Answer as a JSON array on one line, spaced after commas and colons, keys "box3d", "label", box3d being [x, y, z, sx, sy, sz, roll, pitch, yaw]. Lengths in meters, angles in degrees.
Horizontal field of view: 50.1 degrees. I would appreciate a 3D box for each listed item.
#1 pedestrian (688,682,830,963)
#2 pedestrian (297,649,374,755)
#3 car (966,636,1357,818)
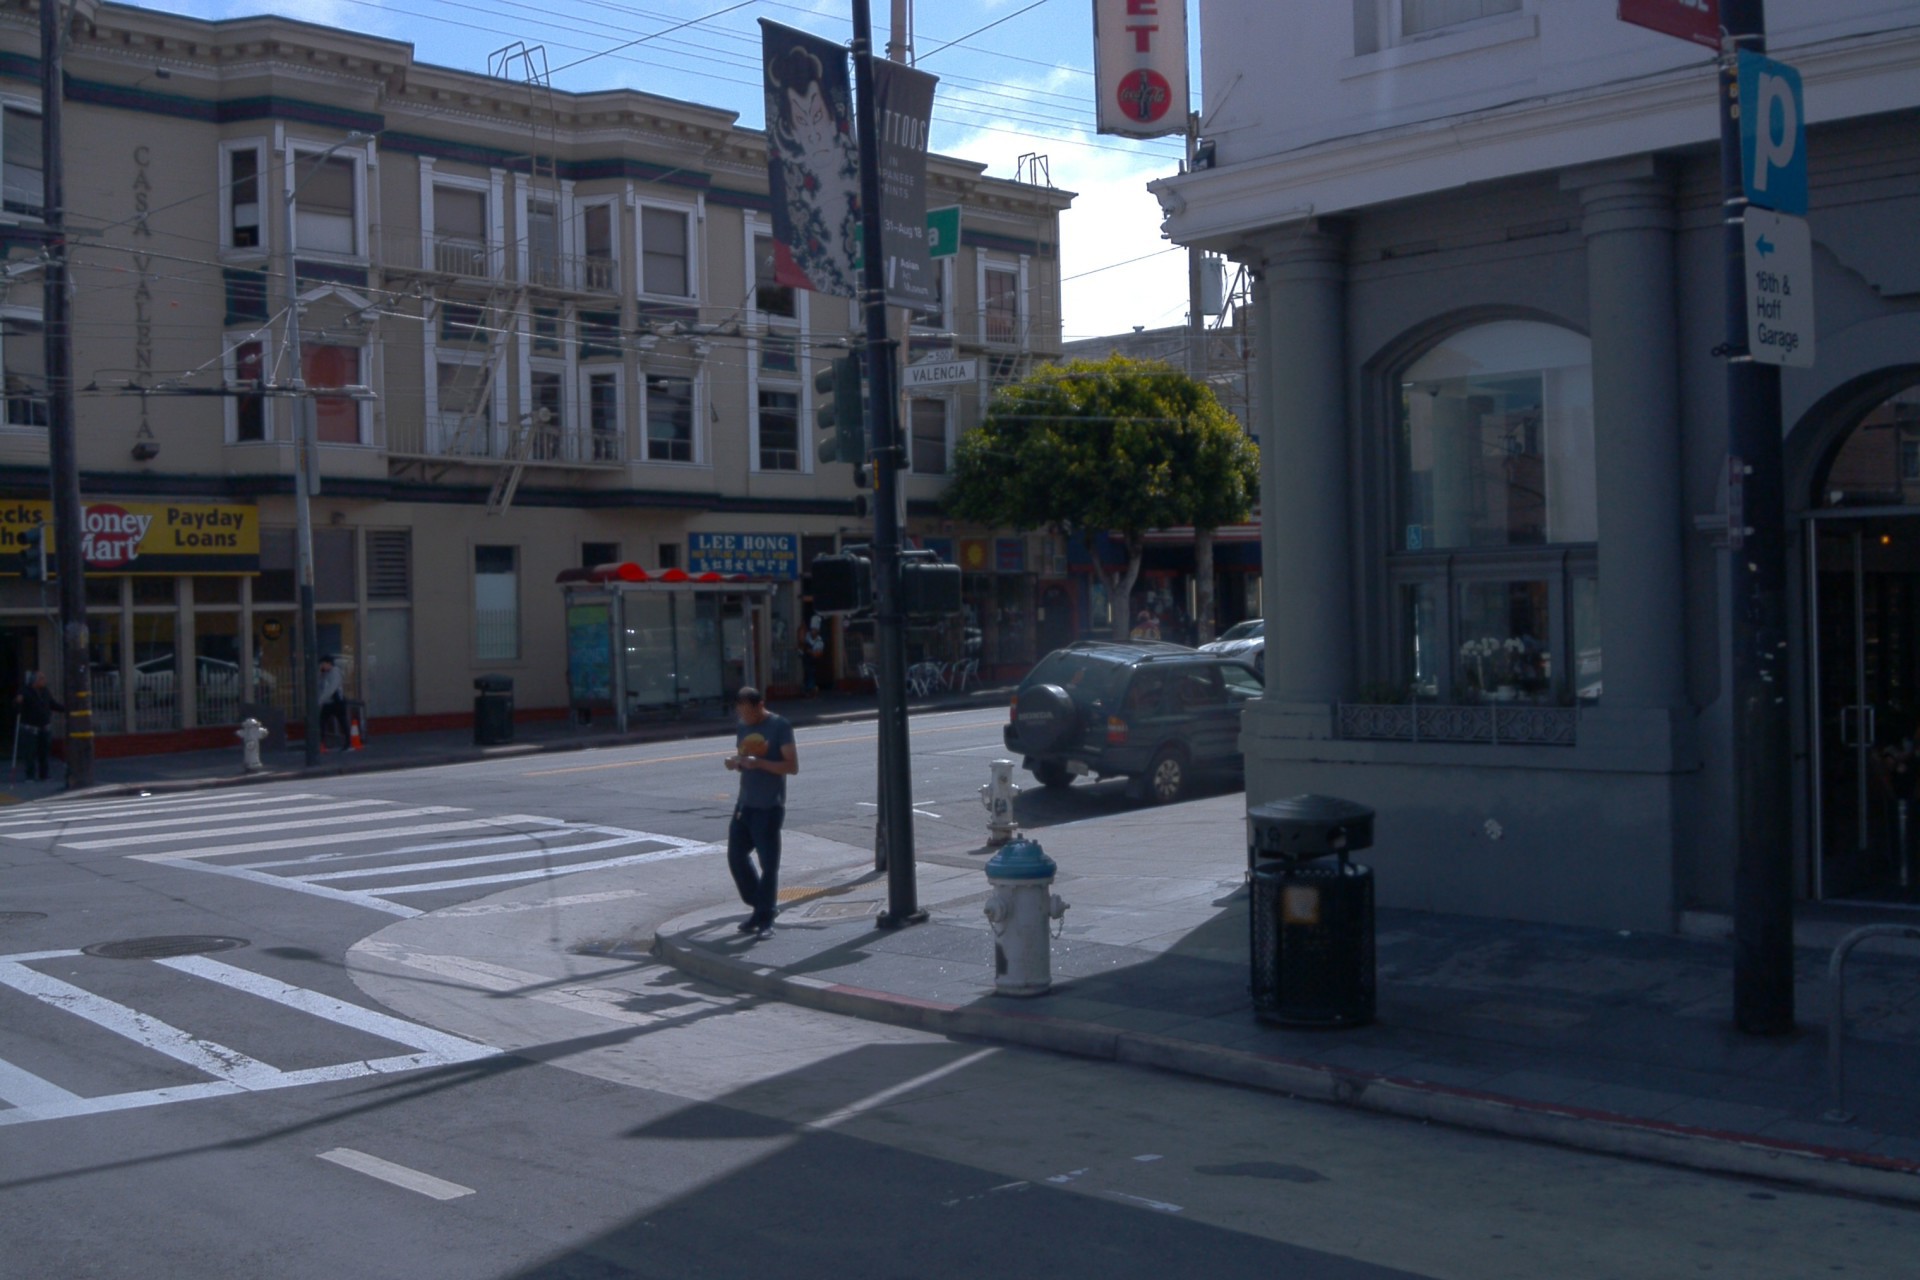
[{"box3d": [-1.415, 1.249, 14.466, 0.690, 1.880, 0.721, 0, 0, -42], "label": "pedestrian"}, {"box3d": [-10.448, 1.025, 34.392, 0.961, 1.720, 0.919, 0, 0, -38], "label": "pedestrian"}, {"box3d": [2.438, 0.908, 23.994, 2.130, 1.870, 4.629, 0, 1, 44], "label": "car"}]
